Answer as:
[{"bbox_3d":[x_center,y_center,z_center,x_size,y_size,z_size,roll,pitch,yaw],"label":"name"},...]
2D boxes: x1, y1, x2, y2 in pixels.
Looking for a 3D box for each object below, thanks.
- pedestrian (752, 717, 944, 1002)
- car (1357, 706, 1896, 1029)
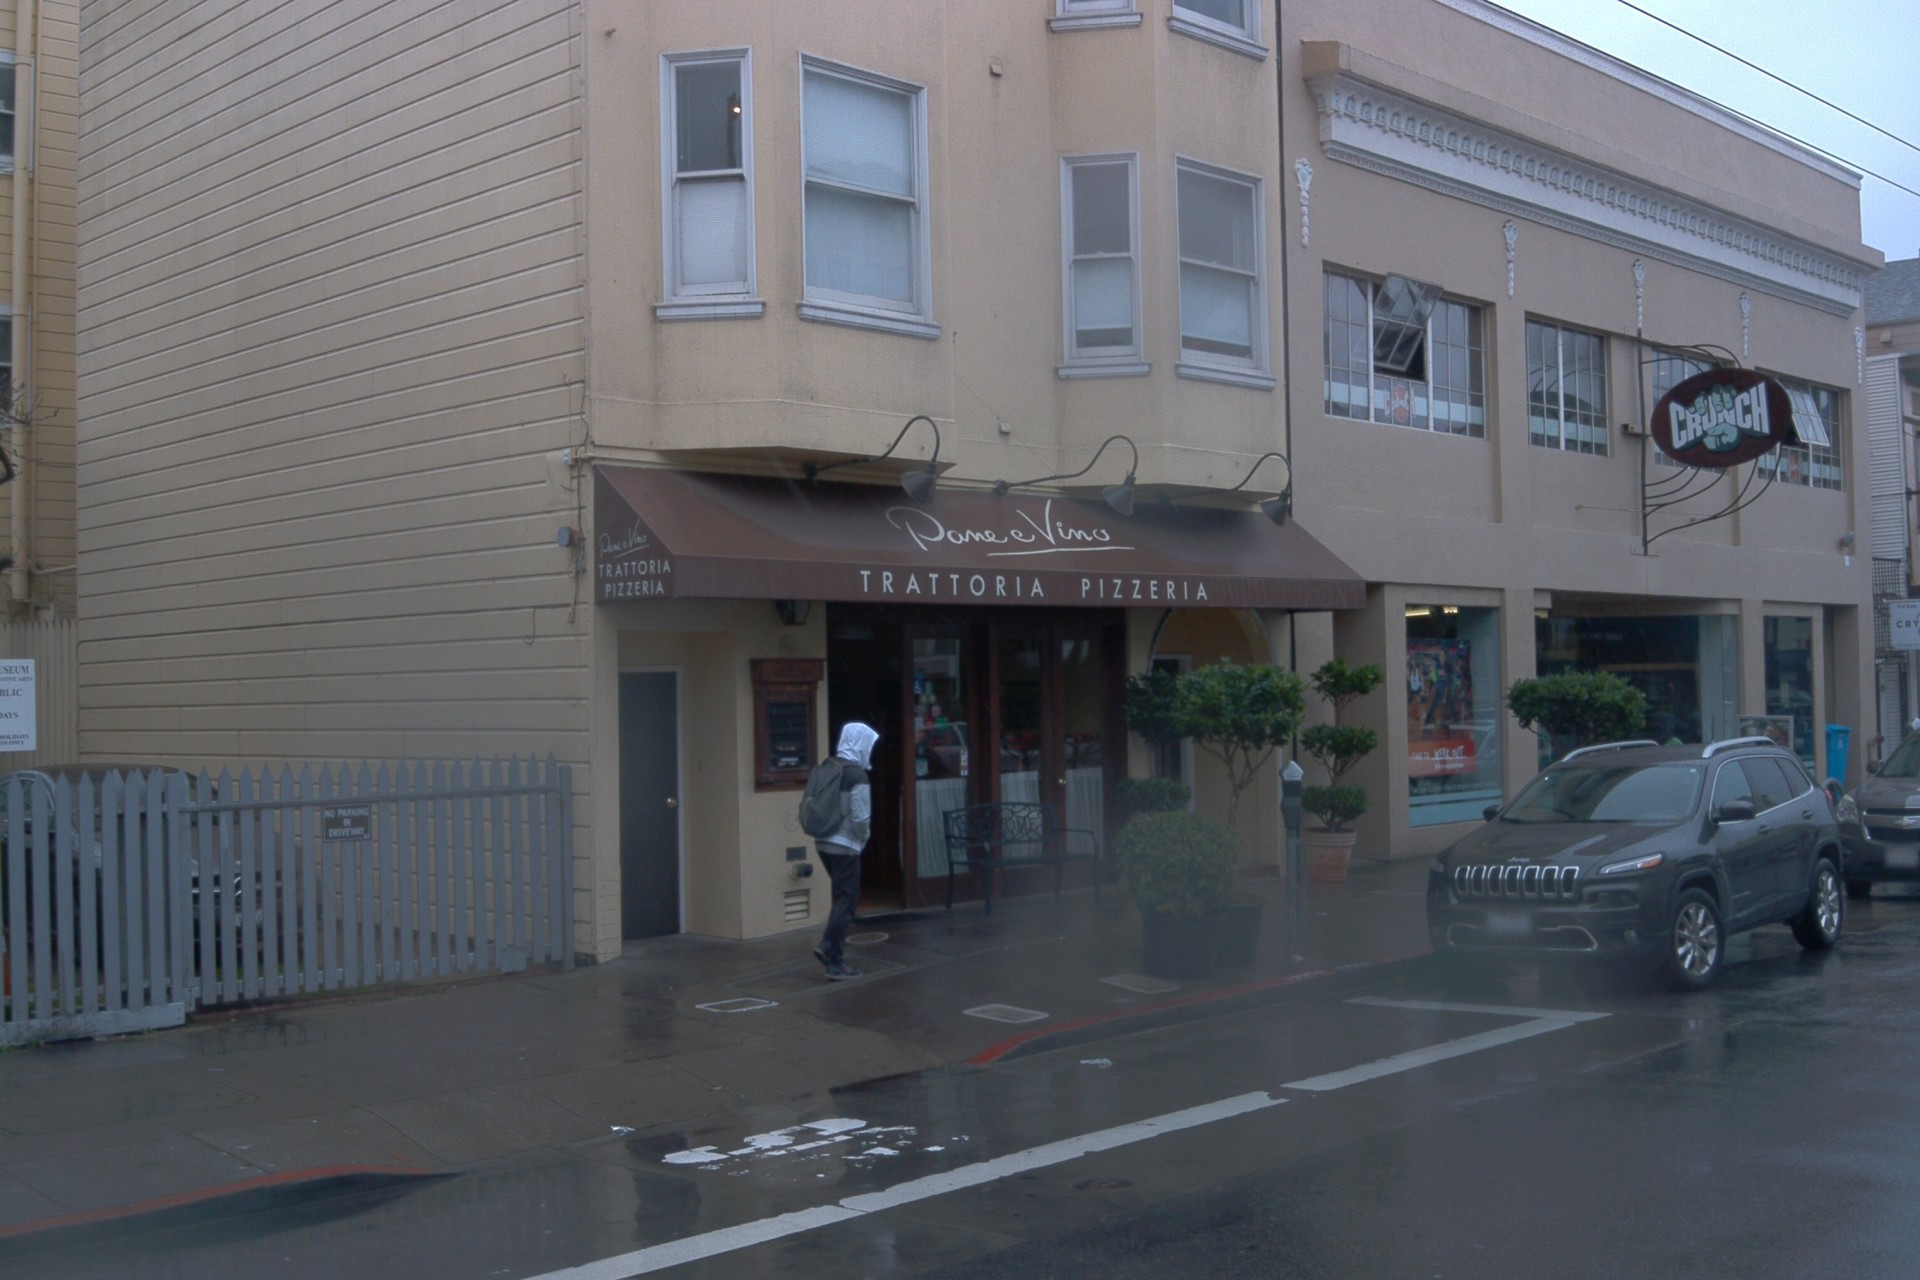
[{"bbox_3d":[-0.761,1.455,14.096,1.056,1.800,0.729,0,1,-42],"label":"pedestrian"},{"bbox_3d":[5.165,1.517,15.557,2.113,1.830,4.891,2,1,40],"label":"car"}]
